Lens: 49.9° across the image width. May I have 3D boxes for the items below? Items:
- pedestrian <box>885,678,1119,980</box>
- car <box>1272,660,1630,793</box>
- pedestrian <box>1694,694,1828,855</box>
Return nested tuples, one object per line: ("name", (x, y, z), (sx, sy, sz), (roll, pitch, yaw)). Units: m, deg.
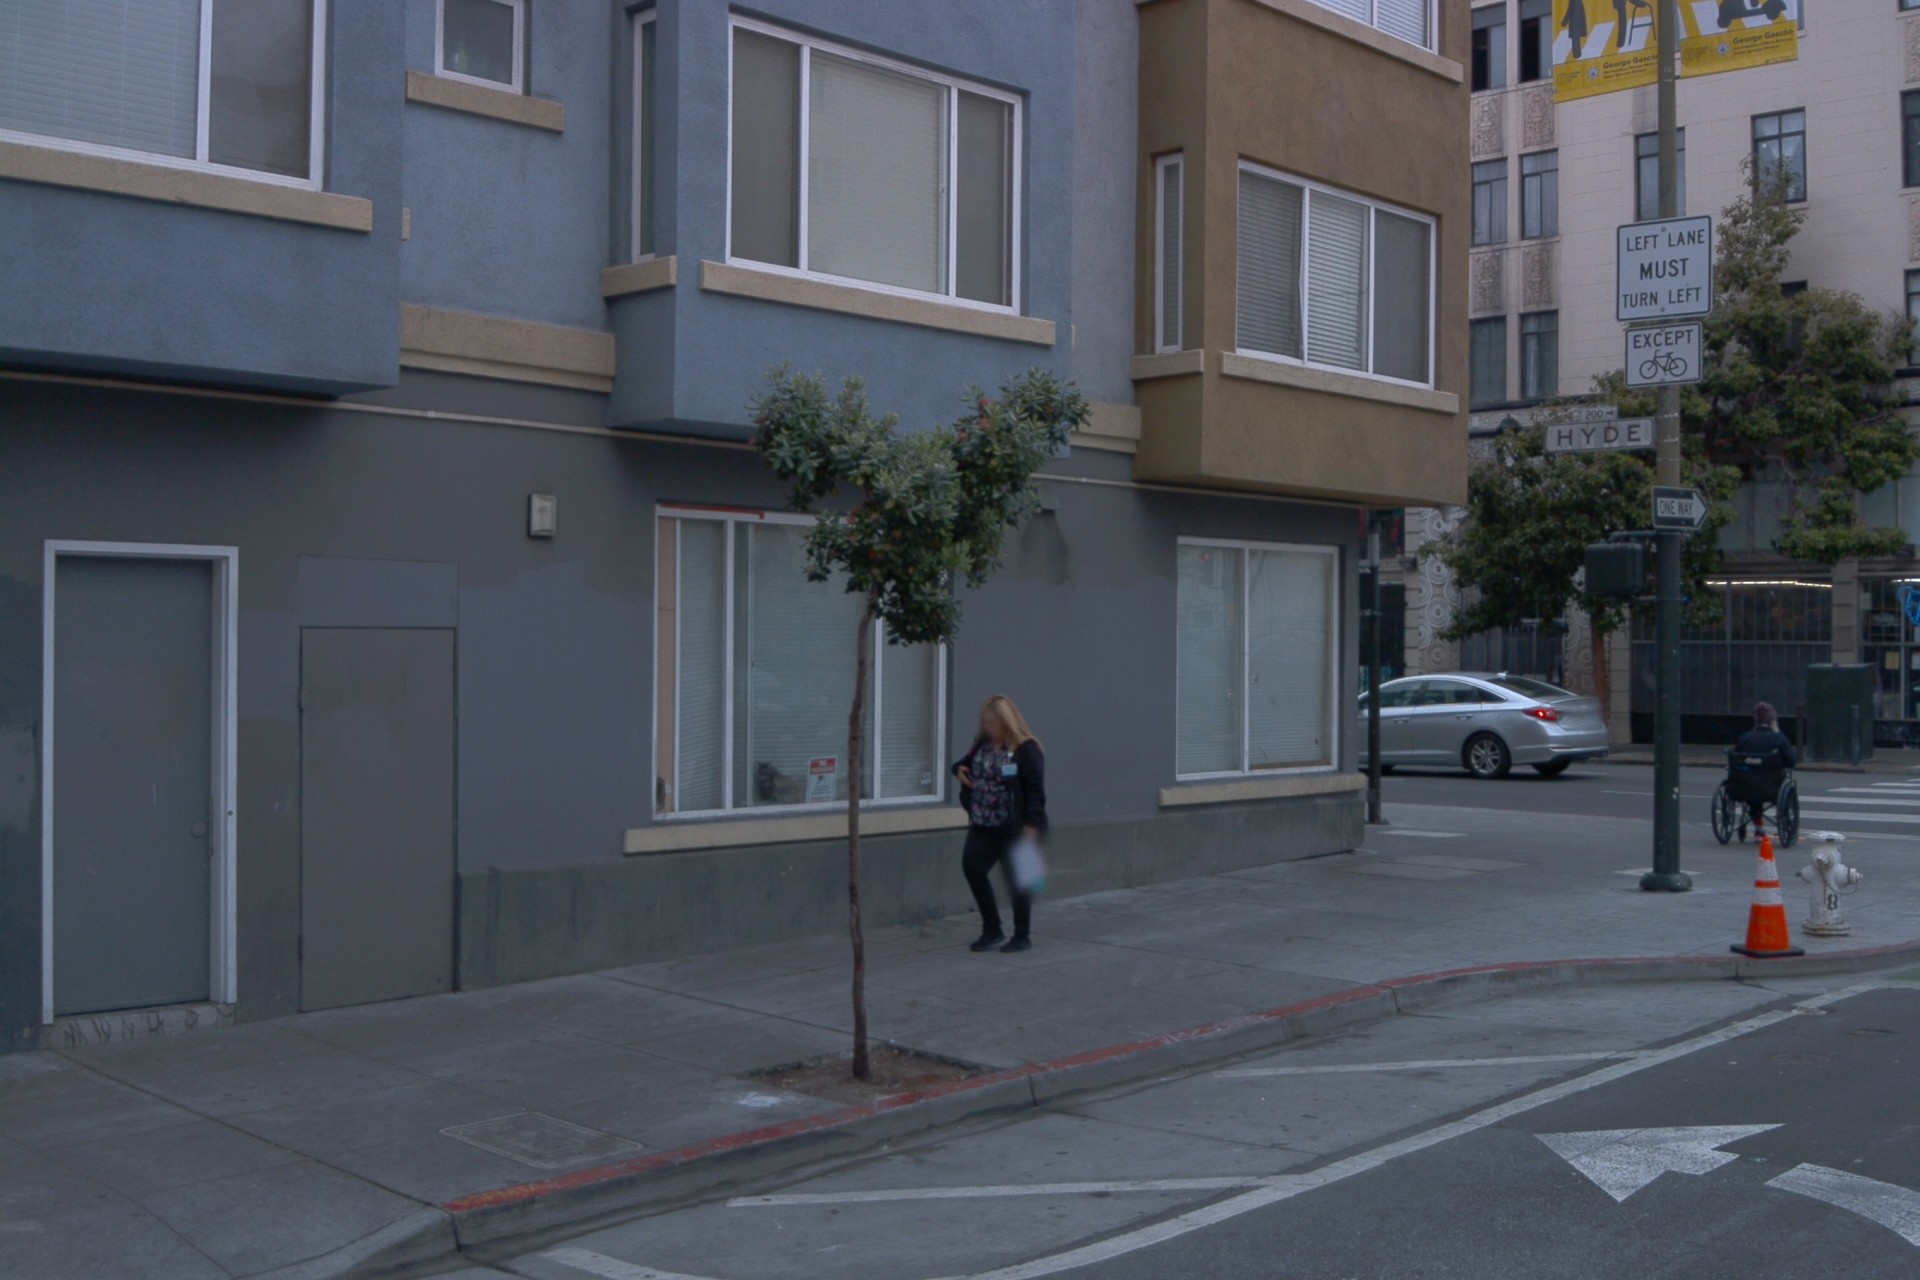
("pedestrian", (0.261, 1.119, 12.768), (1.033, 1.710, 1.012), (-1, 1, -44))
("car", (6.875, 1.151, 29.245), (1.939, 1.600, 4.599), (-1, 1, -44))
("pedestrian", (7.379, 1.215, 19.002), (0.883, 1.370, 1.026), (1, 1, 38))
